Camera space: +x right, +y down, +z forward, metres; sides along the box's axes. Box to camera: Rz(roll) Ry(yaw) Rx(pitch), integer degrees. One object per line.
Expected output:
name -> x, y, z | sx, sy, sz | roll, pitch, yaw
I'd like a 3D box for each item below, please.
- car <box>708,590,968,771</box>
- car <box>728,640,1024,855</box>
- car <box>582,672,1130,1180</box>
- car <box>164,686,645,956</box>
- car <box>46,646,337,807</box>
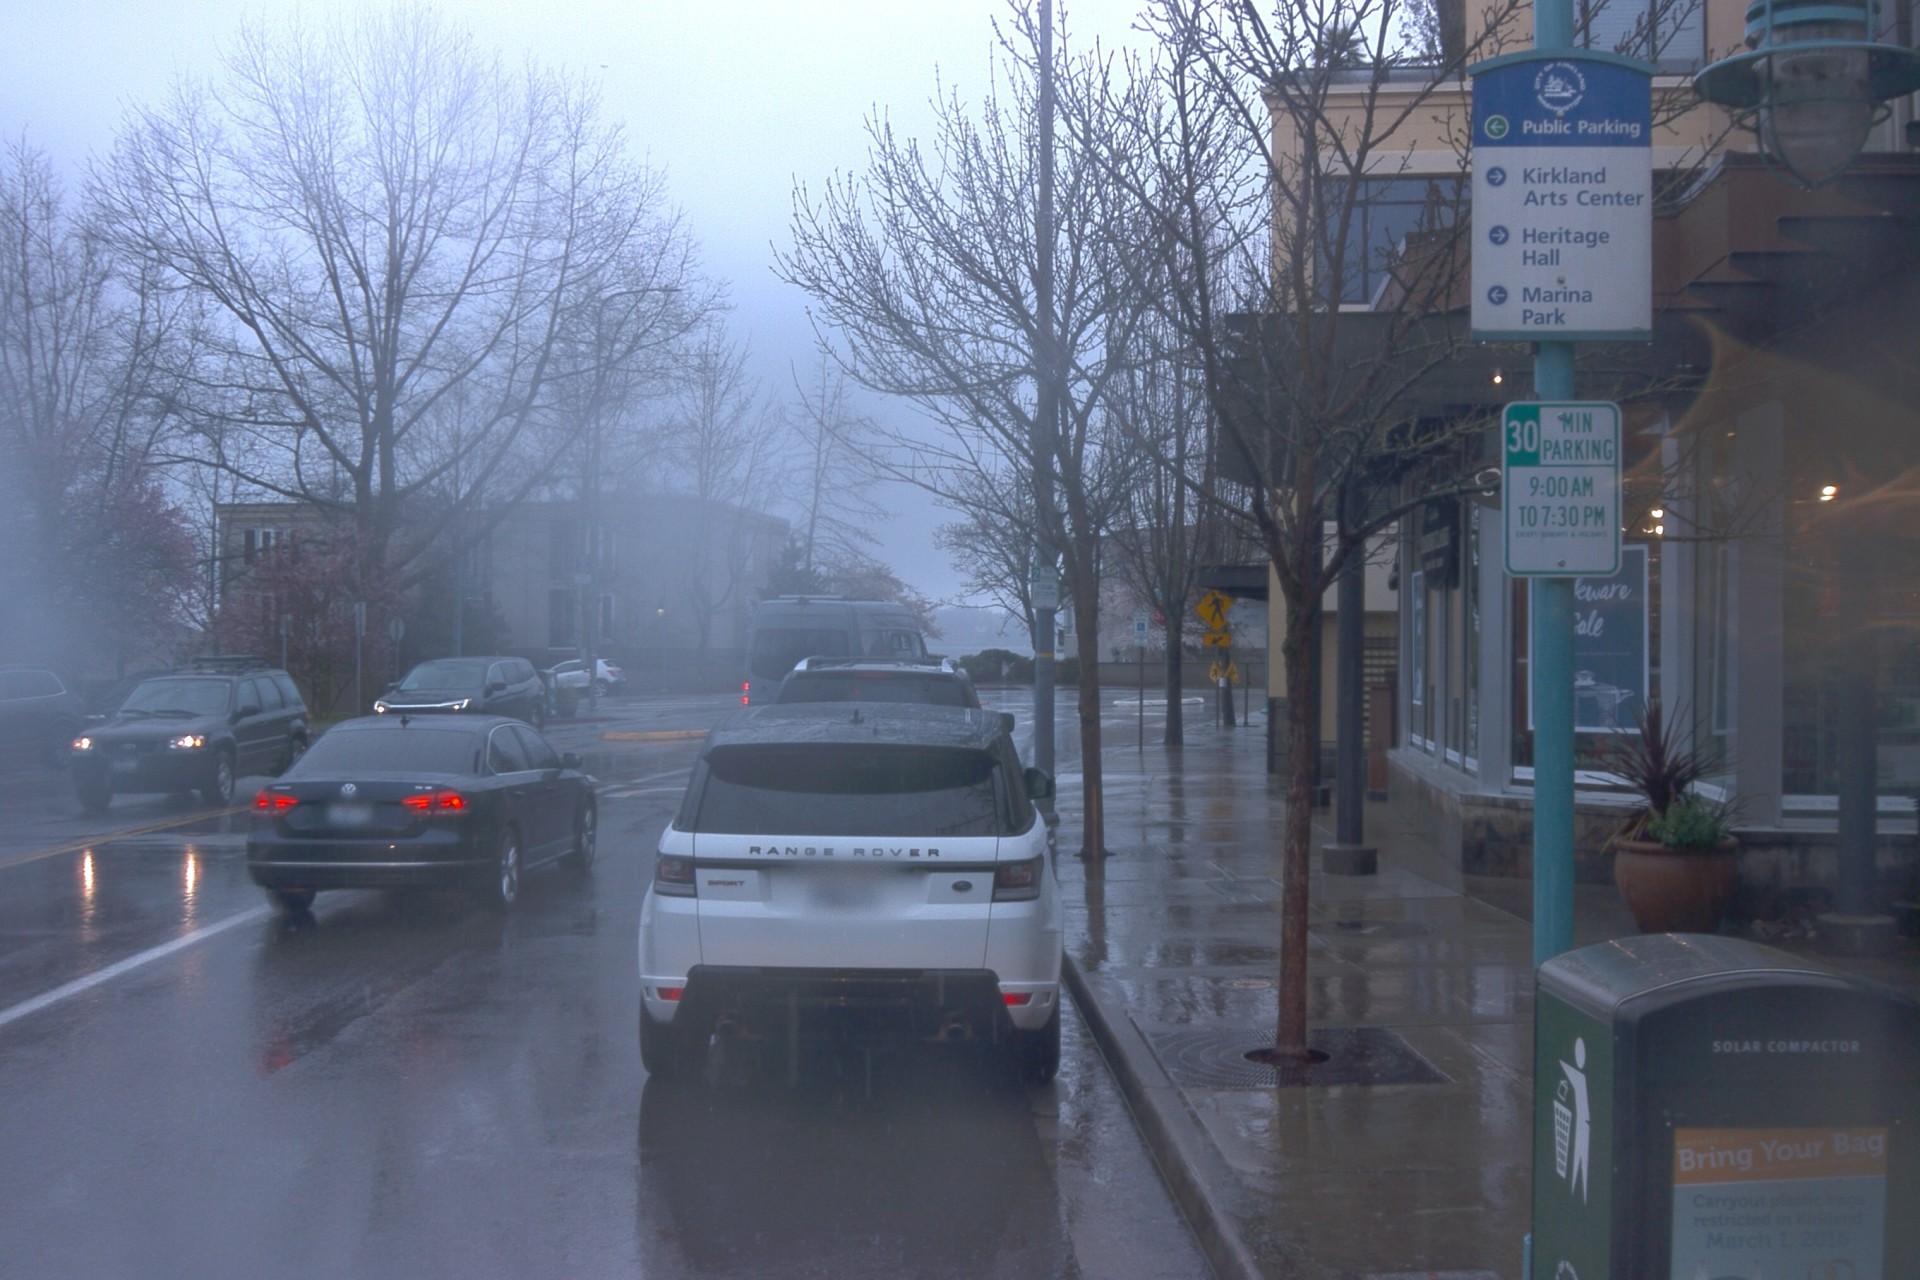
car -> -1.854, 0.596, 34.012 | 2.500, 2.700, 6.192 | 1, 0, 14
car -> -0.732, 0.813, 17.996 | 2.210, 1.560, 5.097 | 1, 0, -2
car -> -0.534, 1.248, 11.159 | 2.265, 2.000, 5.125 | 1, 0, -2
car -> -4.173, 1.286, 16.467 | 2.238, 1.640, 5.183 | 1, 0, 2
car -> -9.906, 1.043, 26.778 | 1.959, 1.860, 4.588 | 1, 0, 1
